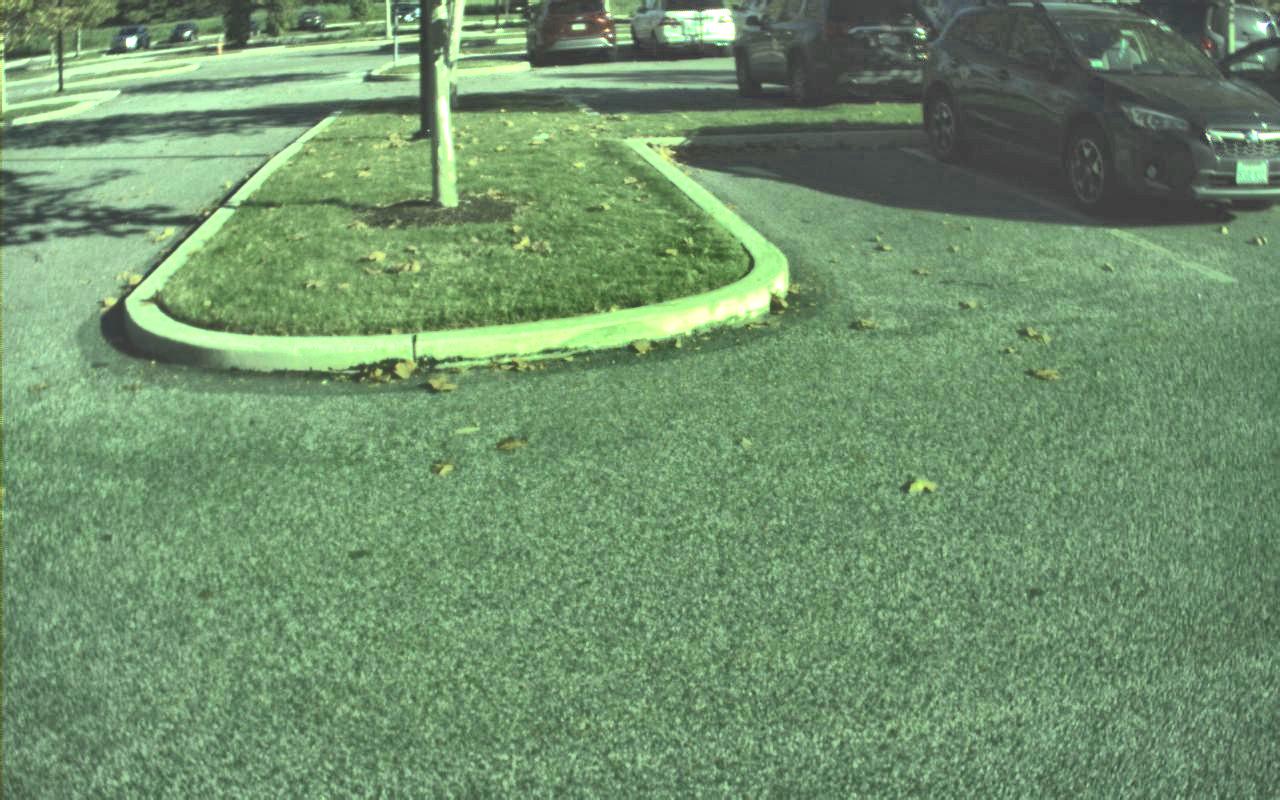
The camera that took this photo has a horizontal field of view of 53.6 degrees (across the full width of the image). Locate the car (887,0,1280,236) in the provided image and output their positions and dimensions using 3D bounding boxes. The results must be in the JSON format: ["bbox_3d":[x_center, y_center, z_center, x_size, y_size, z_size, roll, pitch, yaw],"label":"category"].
[{"bbox_3d":[3.811,-2.559,9.812,1.963,1.620,4.607,-4,17,-11],"label":"car"}]

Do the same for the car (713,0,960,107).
[{"bbox_3d":[2.648,-5.185,17.517,2.017,1.682,4.778,-4,17,-11],"label":"car"}]

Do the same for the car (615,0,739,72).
[{"bbox_3d":[0.831,-9.290,31.170,2.061,1.819,4.810,-4,17,-11],"label":"car"}]
